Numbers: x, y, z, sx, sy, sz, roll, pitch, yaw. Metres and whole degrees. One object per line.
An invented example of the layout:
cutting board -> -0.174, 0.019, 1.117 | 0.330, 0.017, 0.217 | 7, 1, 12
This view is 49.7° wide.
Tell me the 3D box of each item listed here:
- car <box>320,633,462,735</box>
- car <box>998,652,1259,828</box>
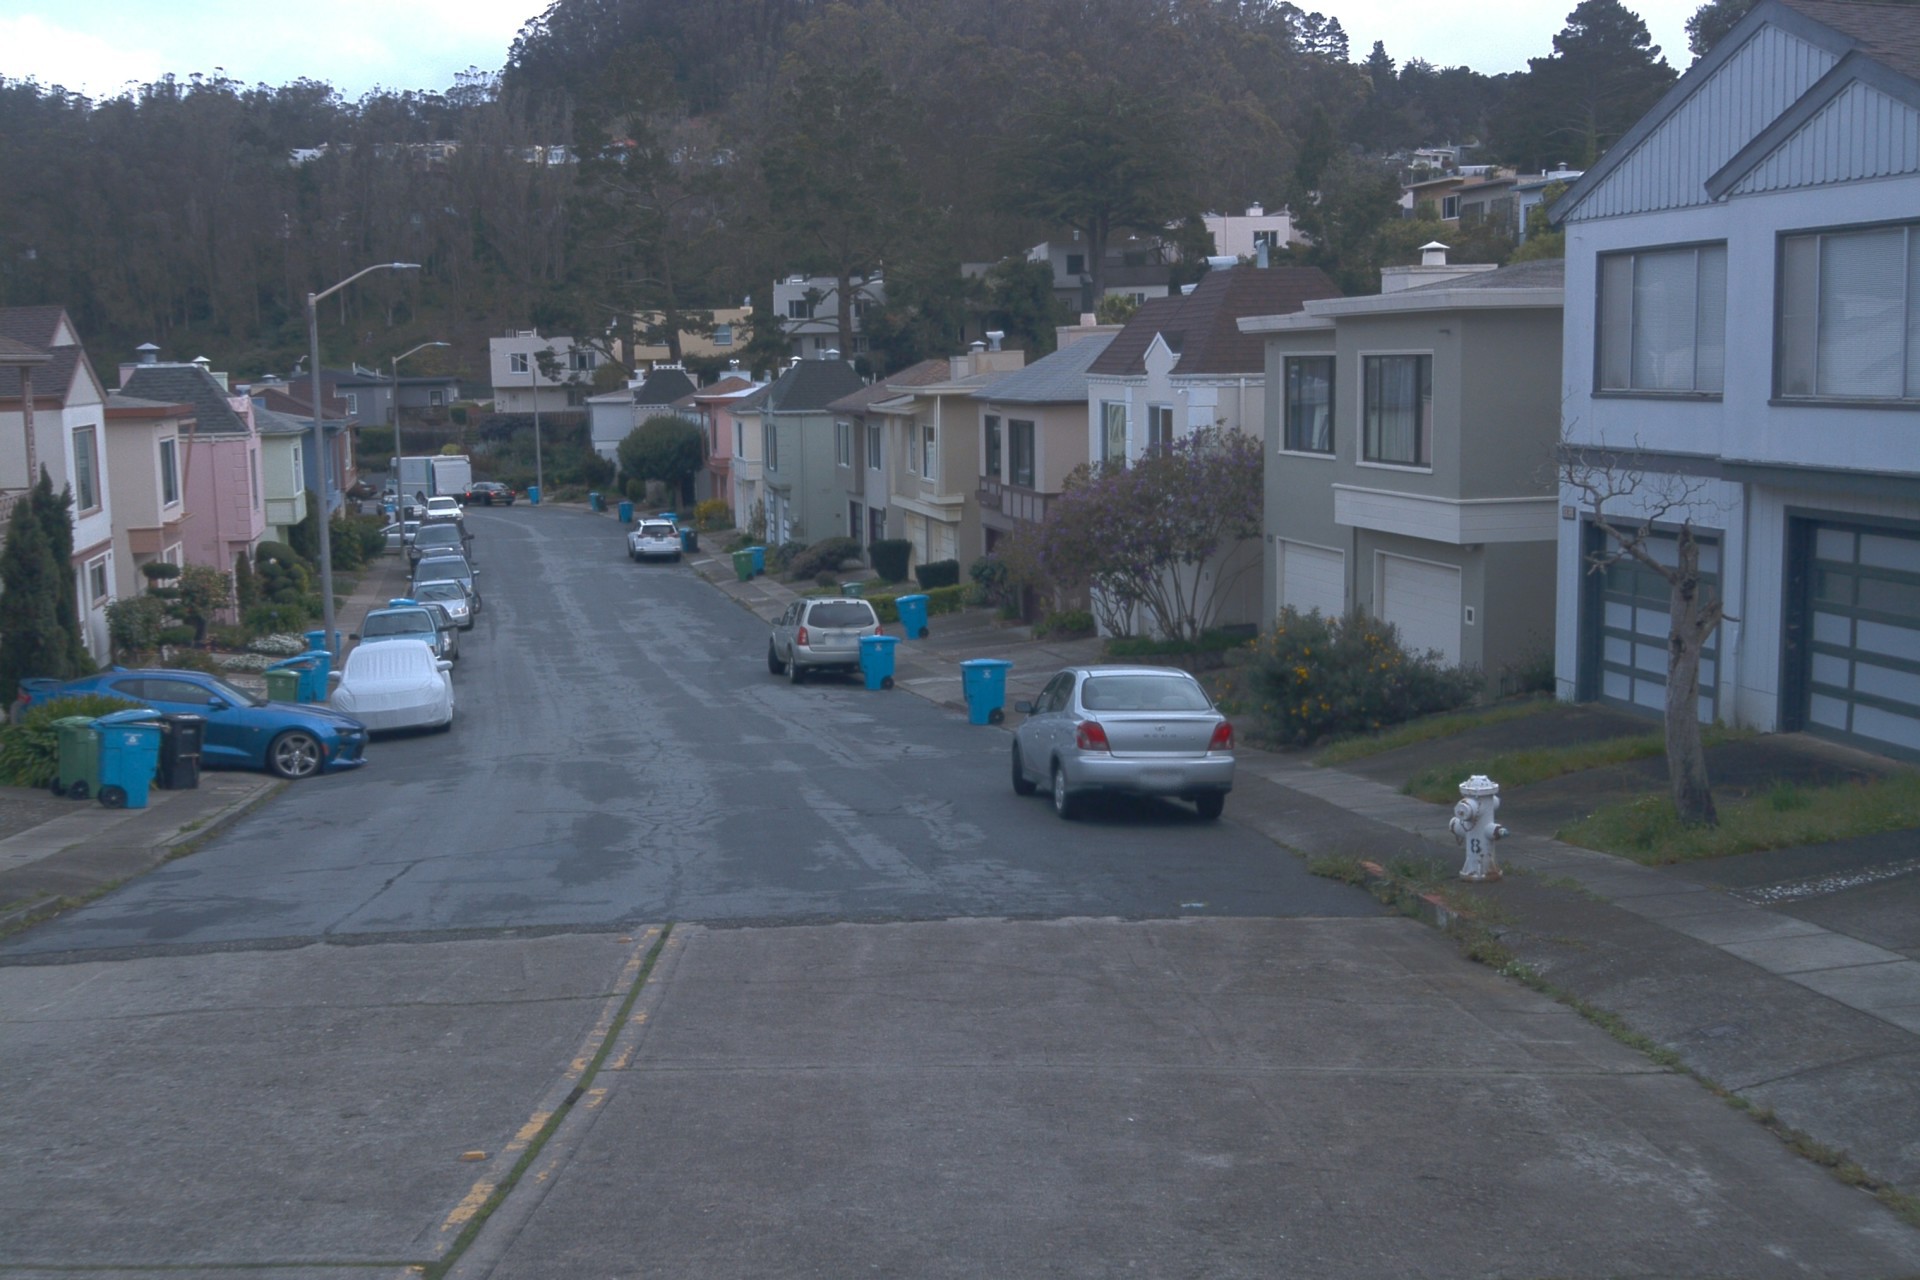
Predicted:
car -> -9.445, 0.700, 34.676 | 2.131, 1.590, 4.314 | 0, 0, -13
car -> 1.617, 0.944, 21.428 | 1.851, 1.630, 4.219 | 0, 0, -7
